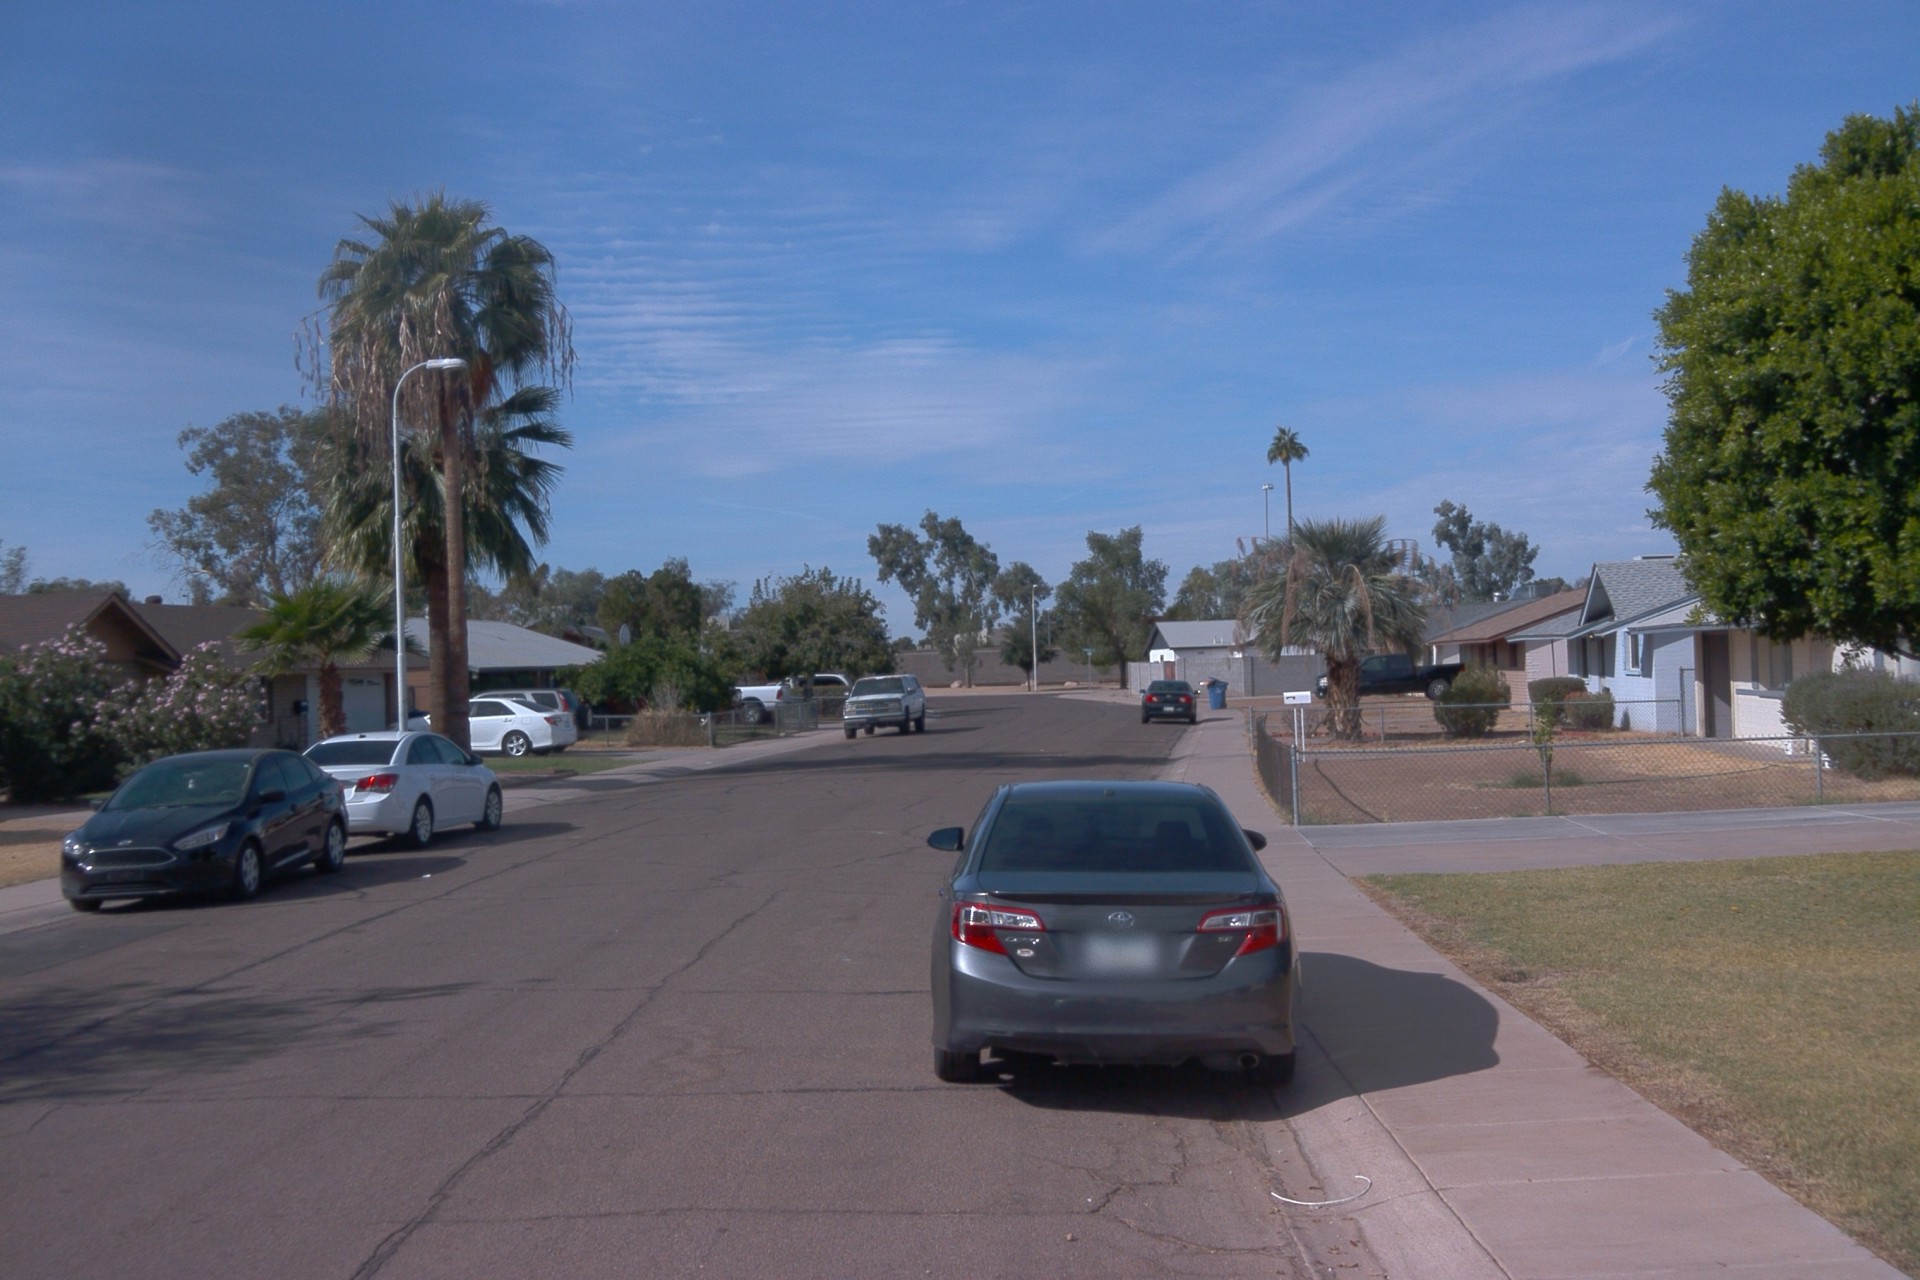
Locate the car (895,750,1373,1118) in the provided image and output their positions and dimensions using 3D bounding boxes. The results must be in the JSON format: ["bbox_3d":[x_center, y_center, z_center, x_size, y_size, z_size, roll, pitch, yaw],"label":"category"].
[{"bbox_3d":[0.807,1.454,11.873,2.150,1.470,5.012,0,-1,1],"label":"car"}]

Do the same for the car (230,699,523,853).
[{"bbox_3d":[-7.479,1.693,27.167,2.079,1.770,4.631,0,-1,7],"label":"car"}]

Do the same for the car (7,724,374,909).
[{"bbox_3d":[-7.786,1.729,21.558,2.055,1.610,4.523,0,-1,1],"label":"car"}]
